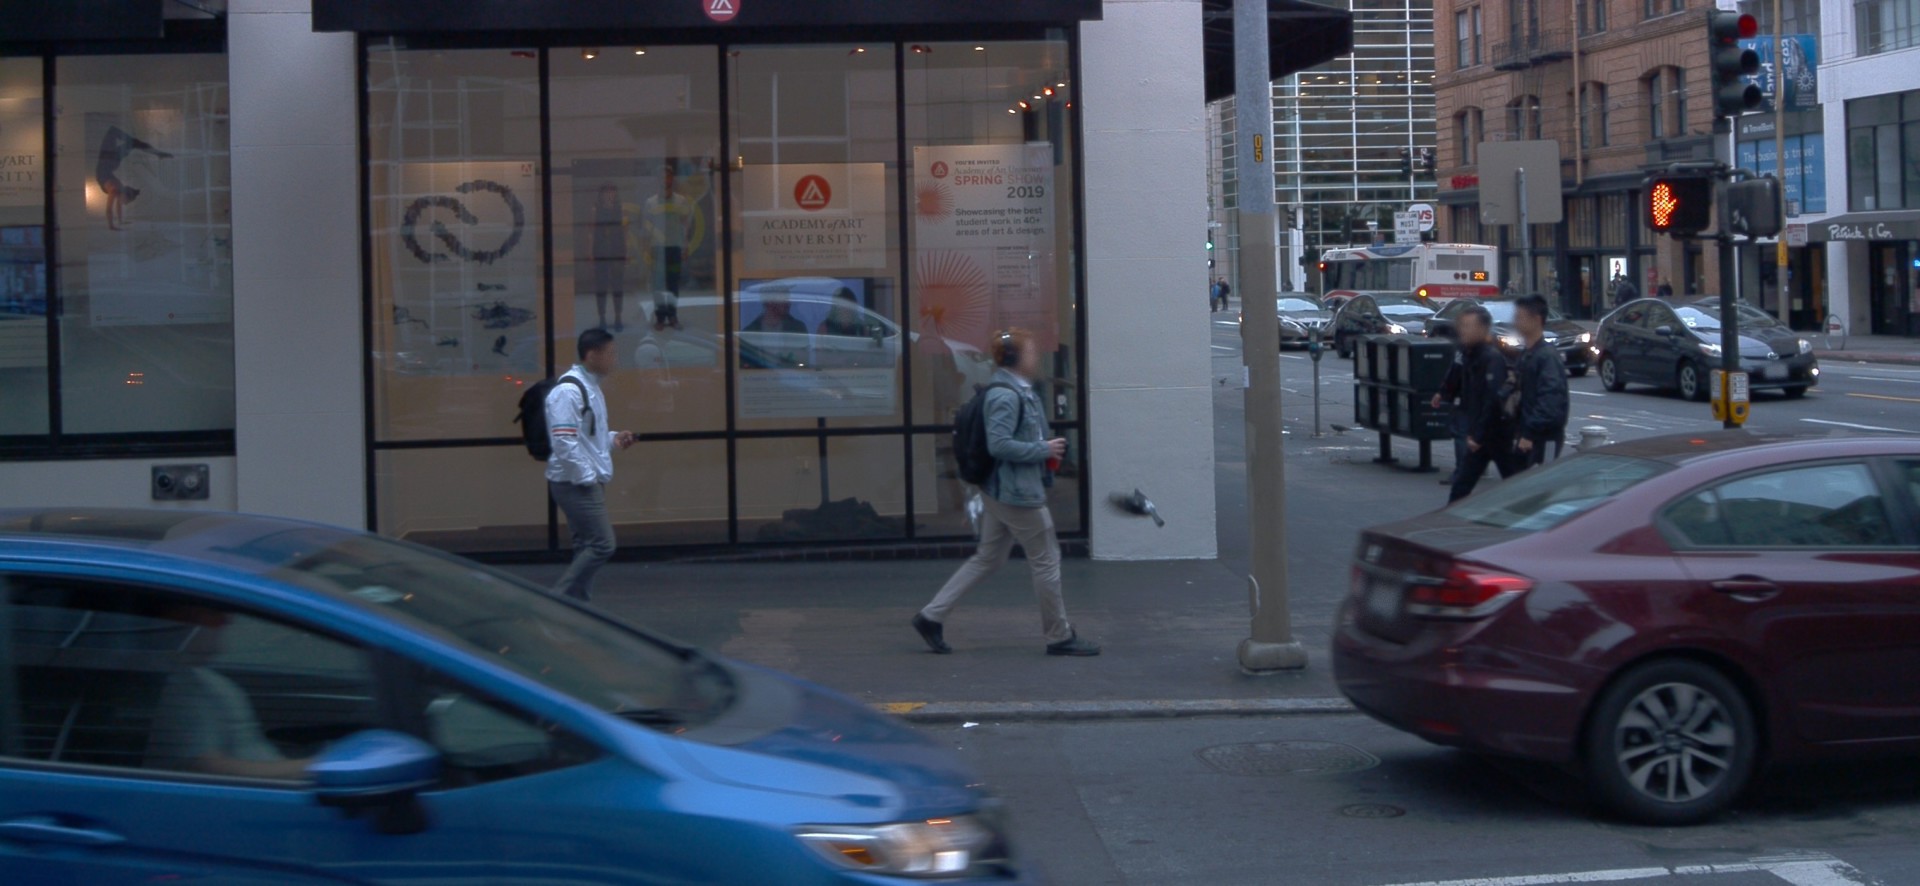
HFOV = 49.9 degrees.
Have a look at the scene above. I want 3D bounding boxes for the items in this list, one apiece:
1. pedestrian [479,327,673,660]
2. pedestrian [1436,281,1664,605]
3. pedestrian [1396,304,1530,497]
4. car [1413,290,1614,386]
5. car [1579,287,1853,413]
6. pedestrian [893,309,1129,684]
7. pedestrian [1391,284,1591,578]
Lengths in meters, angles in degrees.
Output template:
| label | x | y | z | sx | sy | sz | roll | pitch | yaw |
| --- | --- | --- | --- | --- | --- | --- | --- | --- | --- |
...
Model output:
| label | x | y | z | sx | sy | sz | roll | pitch | yaw |
| --- | --- | --- | --- | --- | --- | --- | --- | --- | --- |
| pedestrian | -2.128 | 0.252 | 11.527 | 0.964 | 1.747 | 0.716 | 0 | 2 | -3 |
| pedestrian | 3.789 | -0.037 | 13.305 | 1.185 | 1.967 | 0.834 | -1 | 2 | -8 |
| pedestrian | 4.780 | -0.426 | 19.649 | 1.158 | 1.747 | 0.853 | 0 | 2 | 7 |
| car | 10.090 | -1.998 | 38.001 | 2.075 | 1.442 | 4.654 | -1 | 6 | -6 |
| car | 11.107 | -1.459 | 30.684 | 2.064 | 1.531 | 4.507 | -1 | 6 | -6 |
| pedestrian | 0.259 | 0.248 | 11.056 | 1.166 | 1.877 | 0.760 | -1 | 2 | -6 |
| pedestrian | 3.580 | -0.111 | 13.975 | 1.132 | 1.897 | 0.793 | 0 | 2 | -3 |
